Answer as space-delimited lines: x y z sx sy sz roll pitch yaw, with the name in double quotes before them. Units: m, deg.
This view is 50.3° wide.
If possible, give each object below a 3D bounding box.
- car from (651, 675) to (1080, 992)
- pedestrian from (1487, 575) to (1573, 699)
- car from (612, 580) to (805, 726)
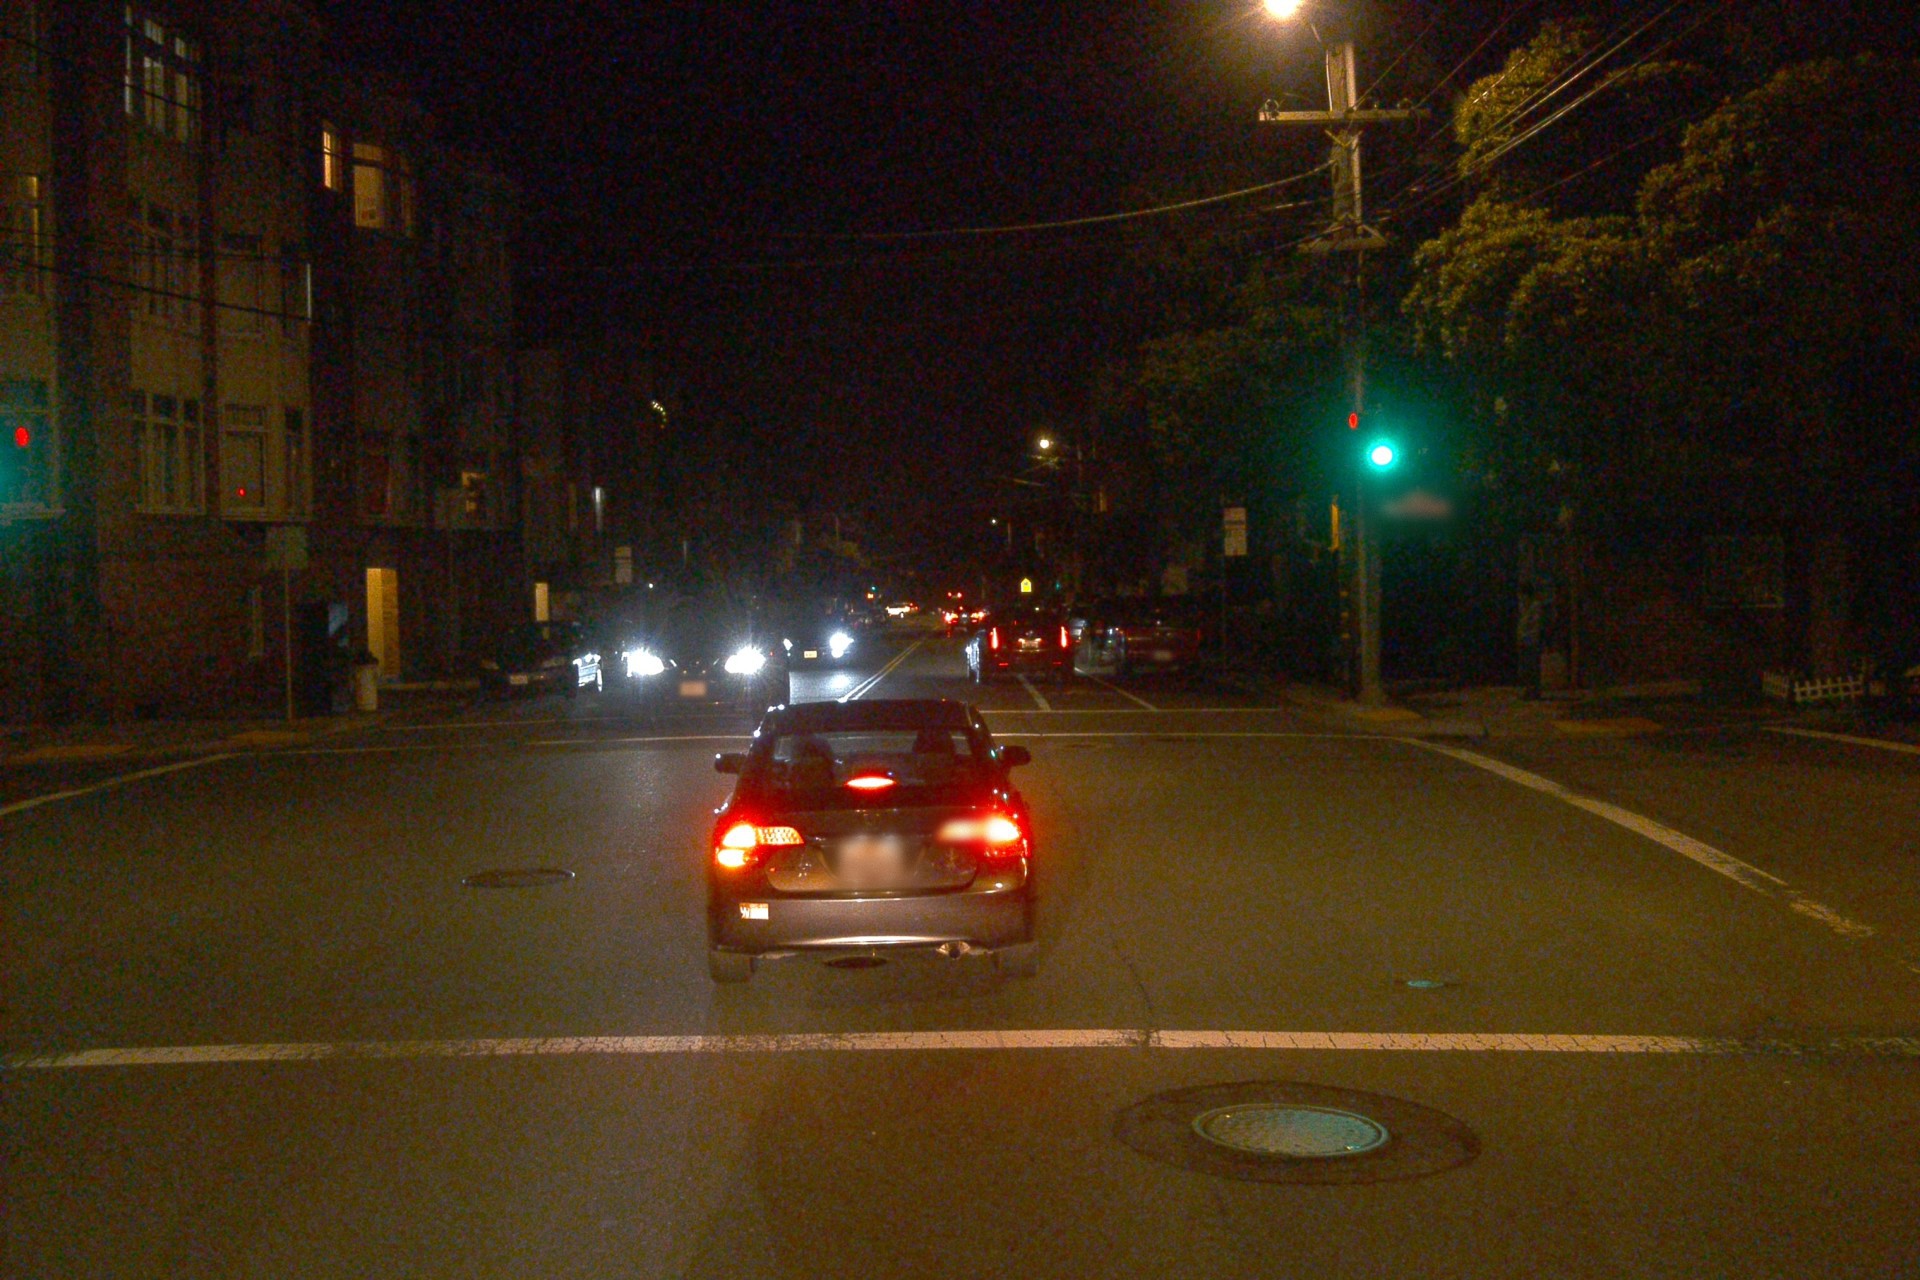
"car" -0.501 0.977 12.209 2.070 1.420 4.588 0 0 -1
"pedestrian" 7.843 -0.038 28.145 0.936 1.691 0.623 0 0 -13
"car" -3.445 0.158 28.877 2.065 1.870 4.608 1 0 1
